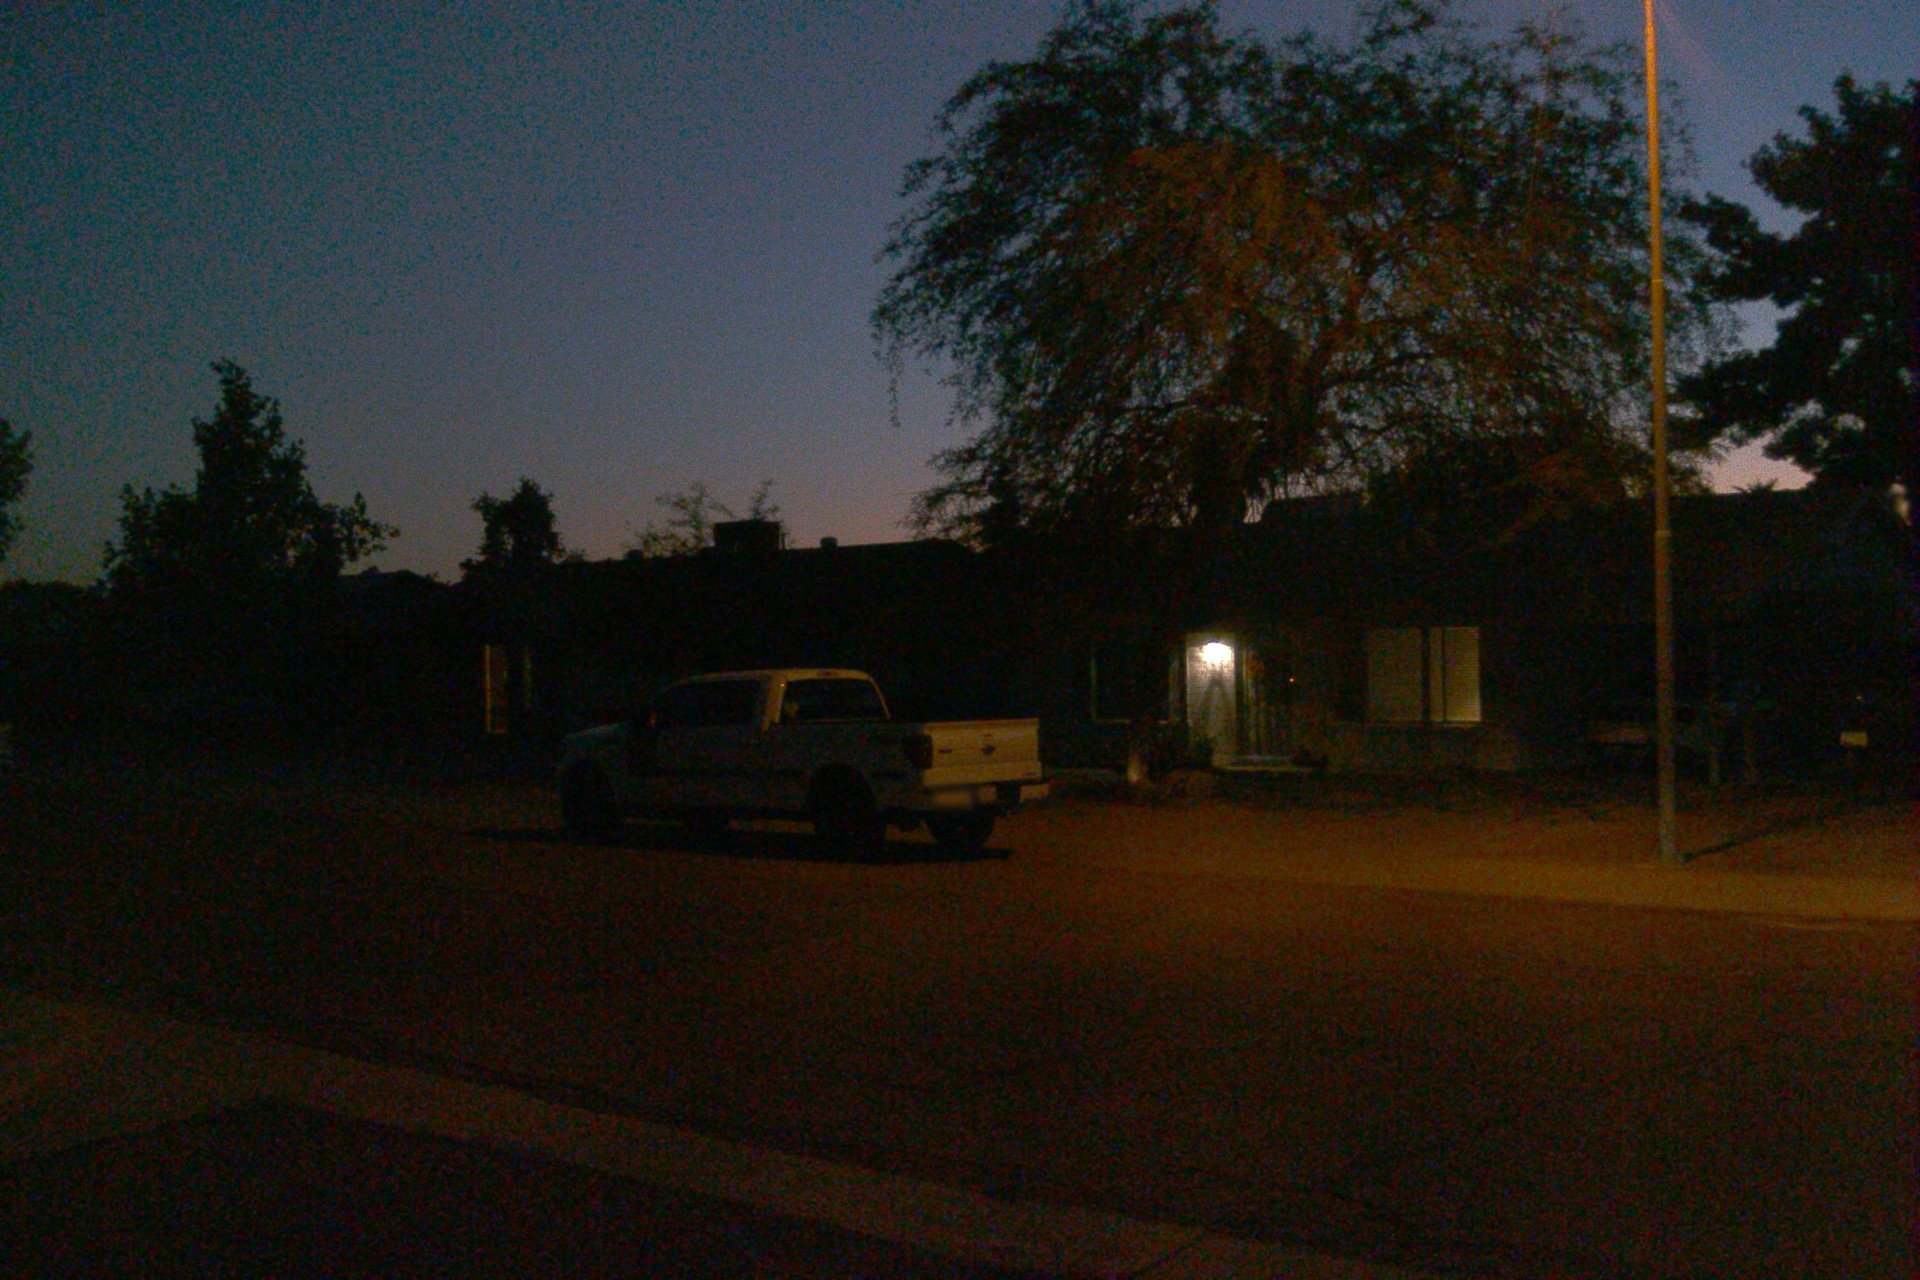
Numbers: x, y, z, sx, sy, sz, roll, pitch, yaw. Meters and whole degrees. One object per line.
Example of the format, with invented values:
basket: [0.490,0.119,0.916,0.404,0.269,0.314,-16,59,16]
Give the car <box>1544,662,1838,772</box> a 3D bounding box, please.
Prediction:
car: [10.352,1.027,29.316,4.300,1.390,2.209,1,0,-44]

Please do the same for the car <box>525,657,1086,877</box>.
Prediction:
car: [-1.850,1.239,22.776,6.286,2.010,2.335,1,0,41]
